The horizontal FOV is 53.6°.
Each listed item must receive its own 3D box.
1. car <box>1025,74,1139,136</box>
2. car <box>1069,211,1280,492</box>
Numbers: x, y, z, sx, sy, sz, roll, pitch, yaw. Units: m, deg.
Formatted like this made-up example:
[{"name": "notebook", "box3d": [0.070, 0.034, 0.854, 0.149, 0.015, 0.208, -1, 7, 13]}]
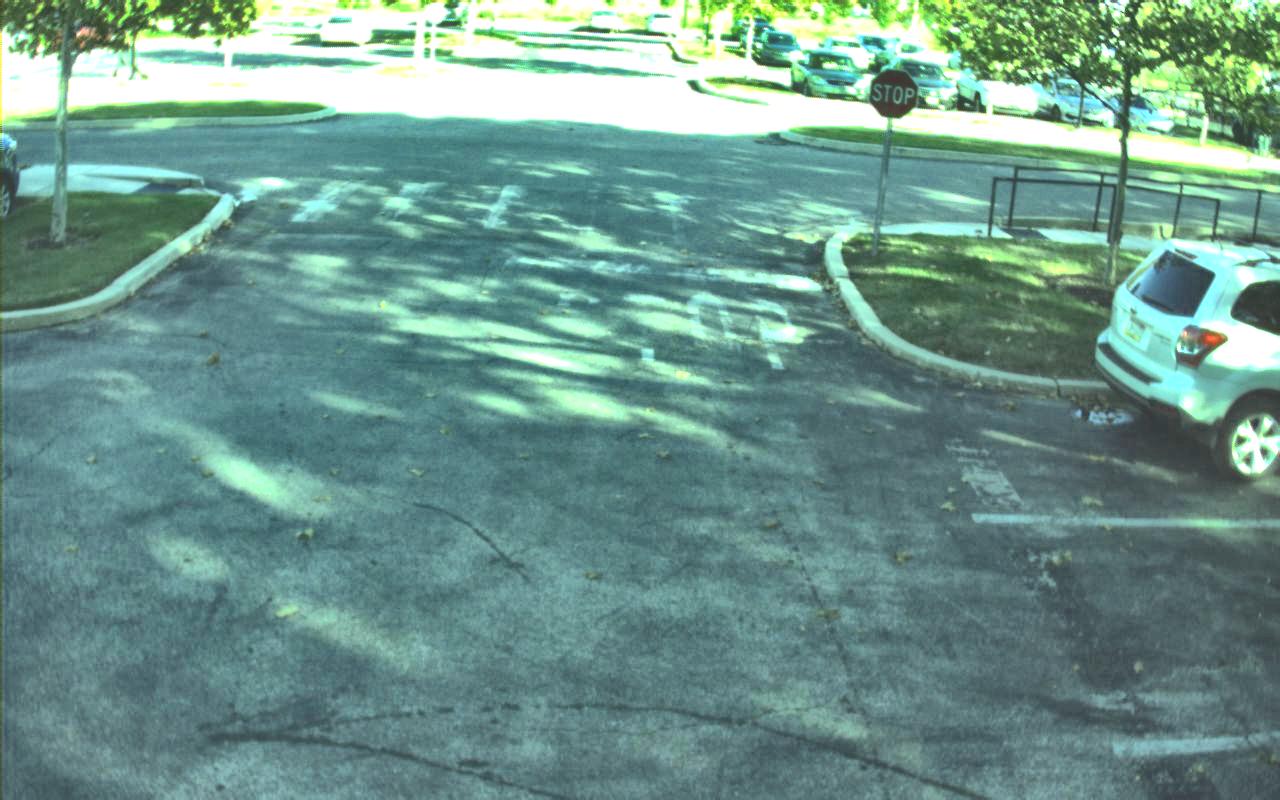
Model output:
[{"name": "car", "box3d": [14.185, -9.506, 37.965, 1.949, 1.619, 4.479, -3, 17, -7]}, {"name": "car", "box3d": [6.009, -0.506, 9.440, 4.486, 1.768, 1.991, -2, 16, -2]}]
